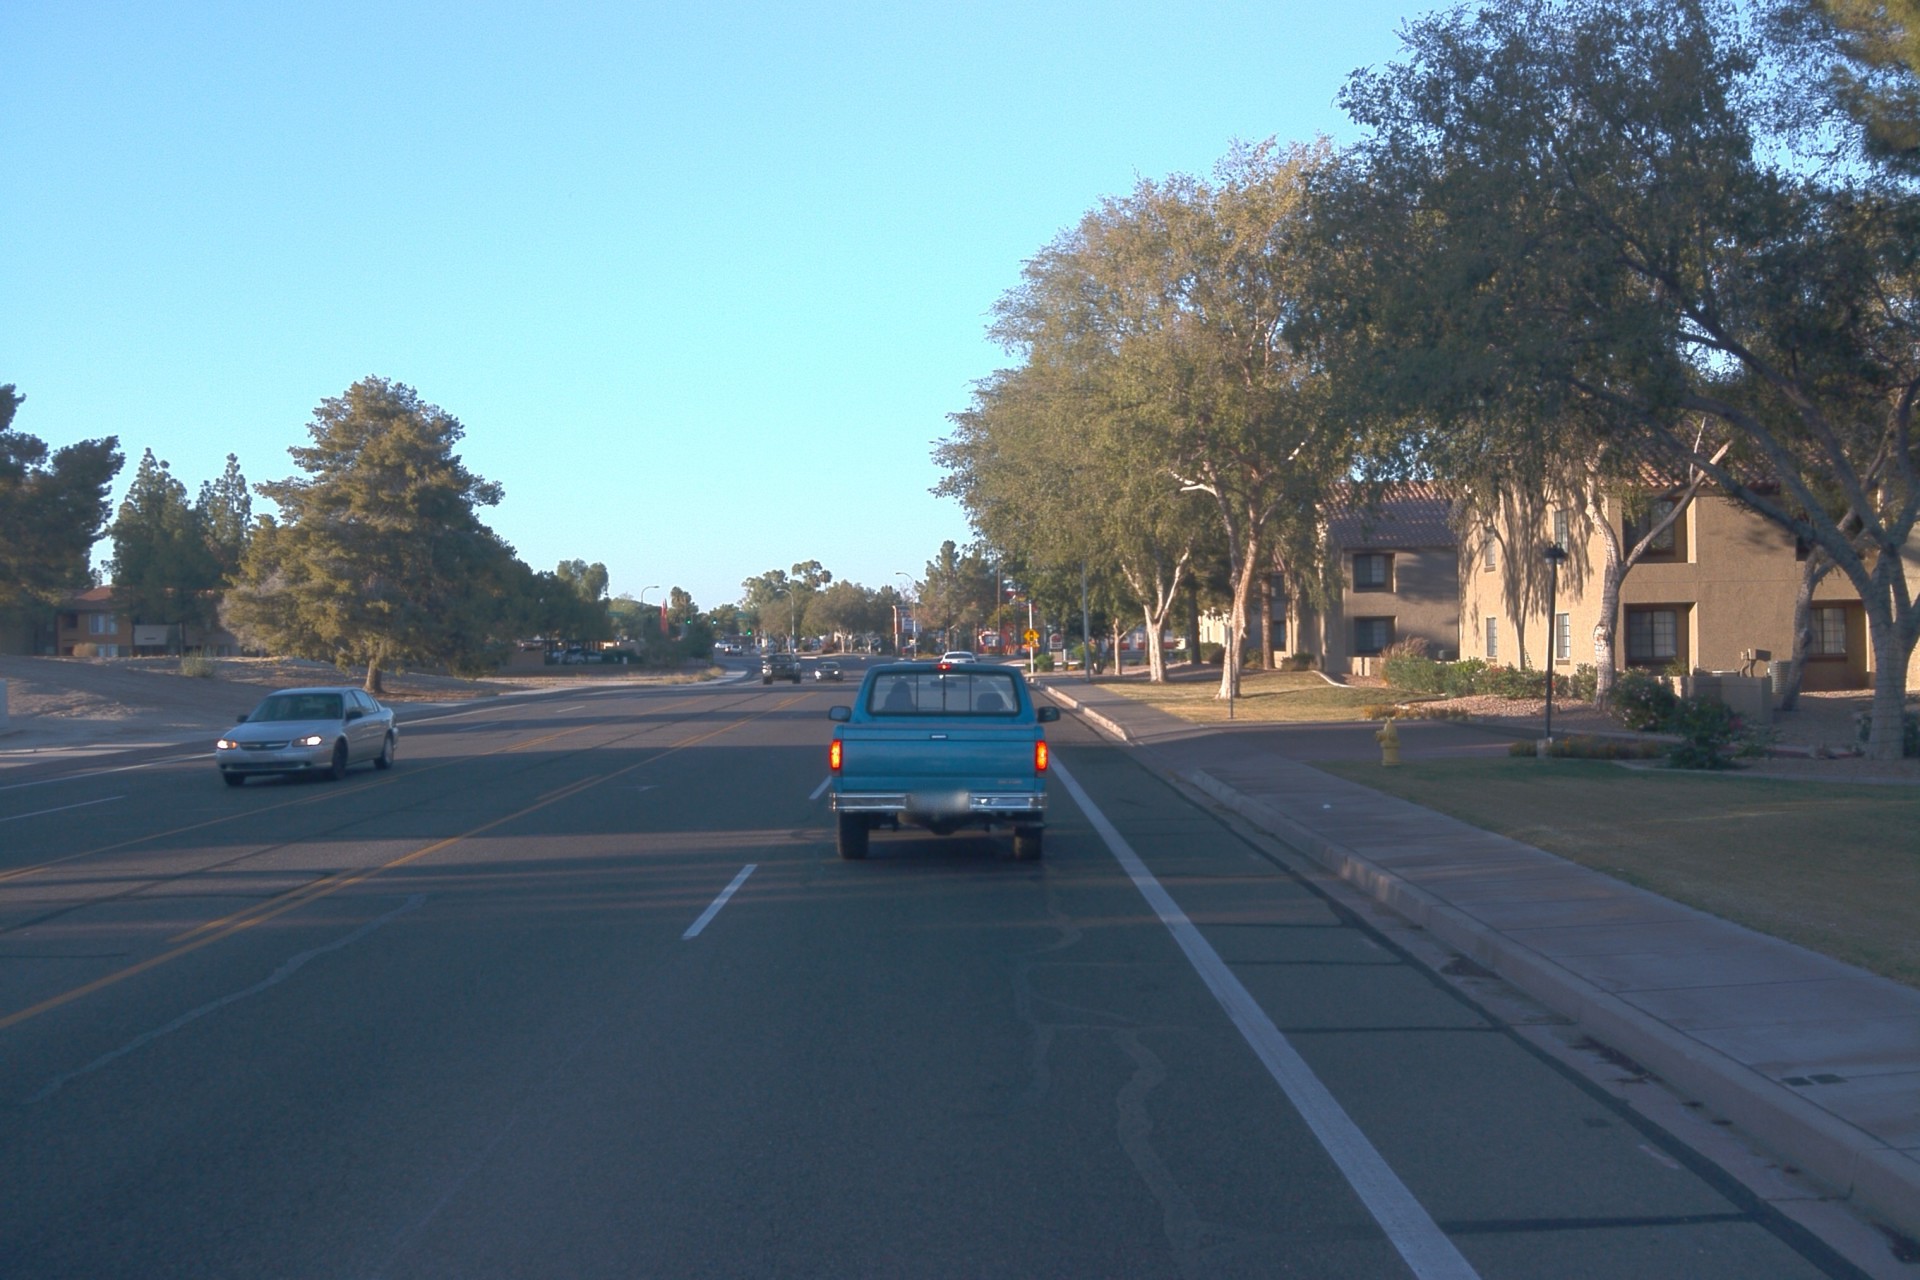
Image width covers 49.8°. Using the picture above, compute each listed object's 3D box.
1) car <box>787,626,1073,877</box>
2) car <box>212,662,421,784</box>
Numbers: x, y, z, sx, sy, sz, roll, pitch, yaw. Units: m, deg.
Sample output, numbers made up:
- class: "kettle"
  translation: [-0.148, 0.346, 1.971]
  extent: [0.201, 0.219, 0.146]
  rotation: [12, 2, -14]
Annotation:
- class: "car"
  translation: [-0.179, 0.964, 20.569]
  extent: [2.459, 2.150, 5.428]
  rotation: [0, 0, 2]
- class: "car"
  translation: [-10.334, 1.280, 33.611]
  extent: [1.958, 1.790, 4.652]
  rotation: [0, 0, 0]
